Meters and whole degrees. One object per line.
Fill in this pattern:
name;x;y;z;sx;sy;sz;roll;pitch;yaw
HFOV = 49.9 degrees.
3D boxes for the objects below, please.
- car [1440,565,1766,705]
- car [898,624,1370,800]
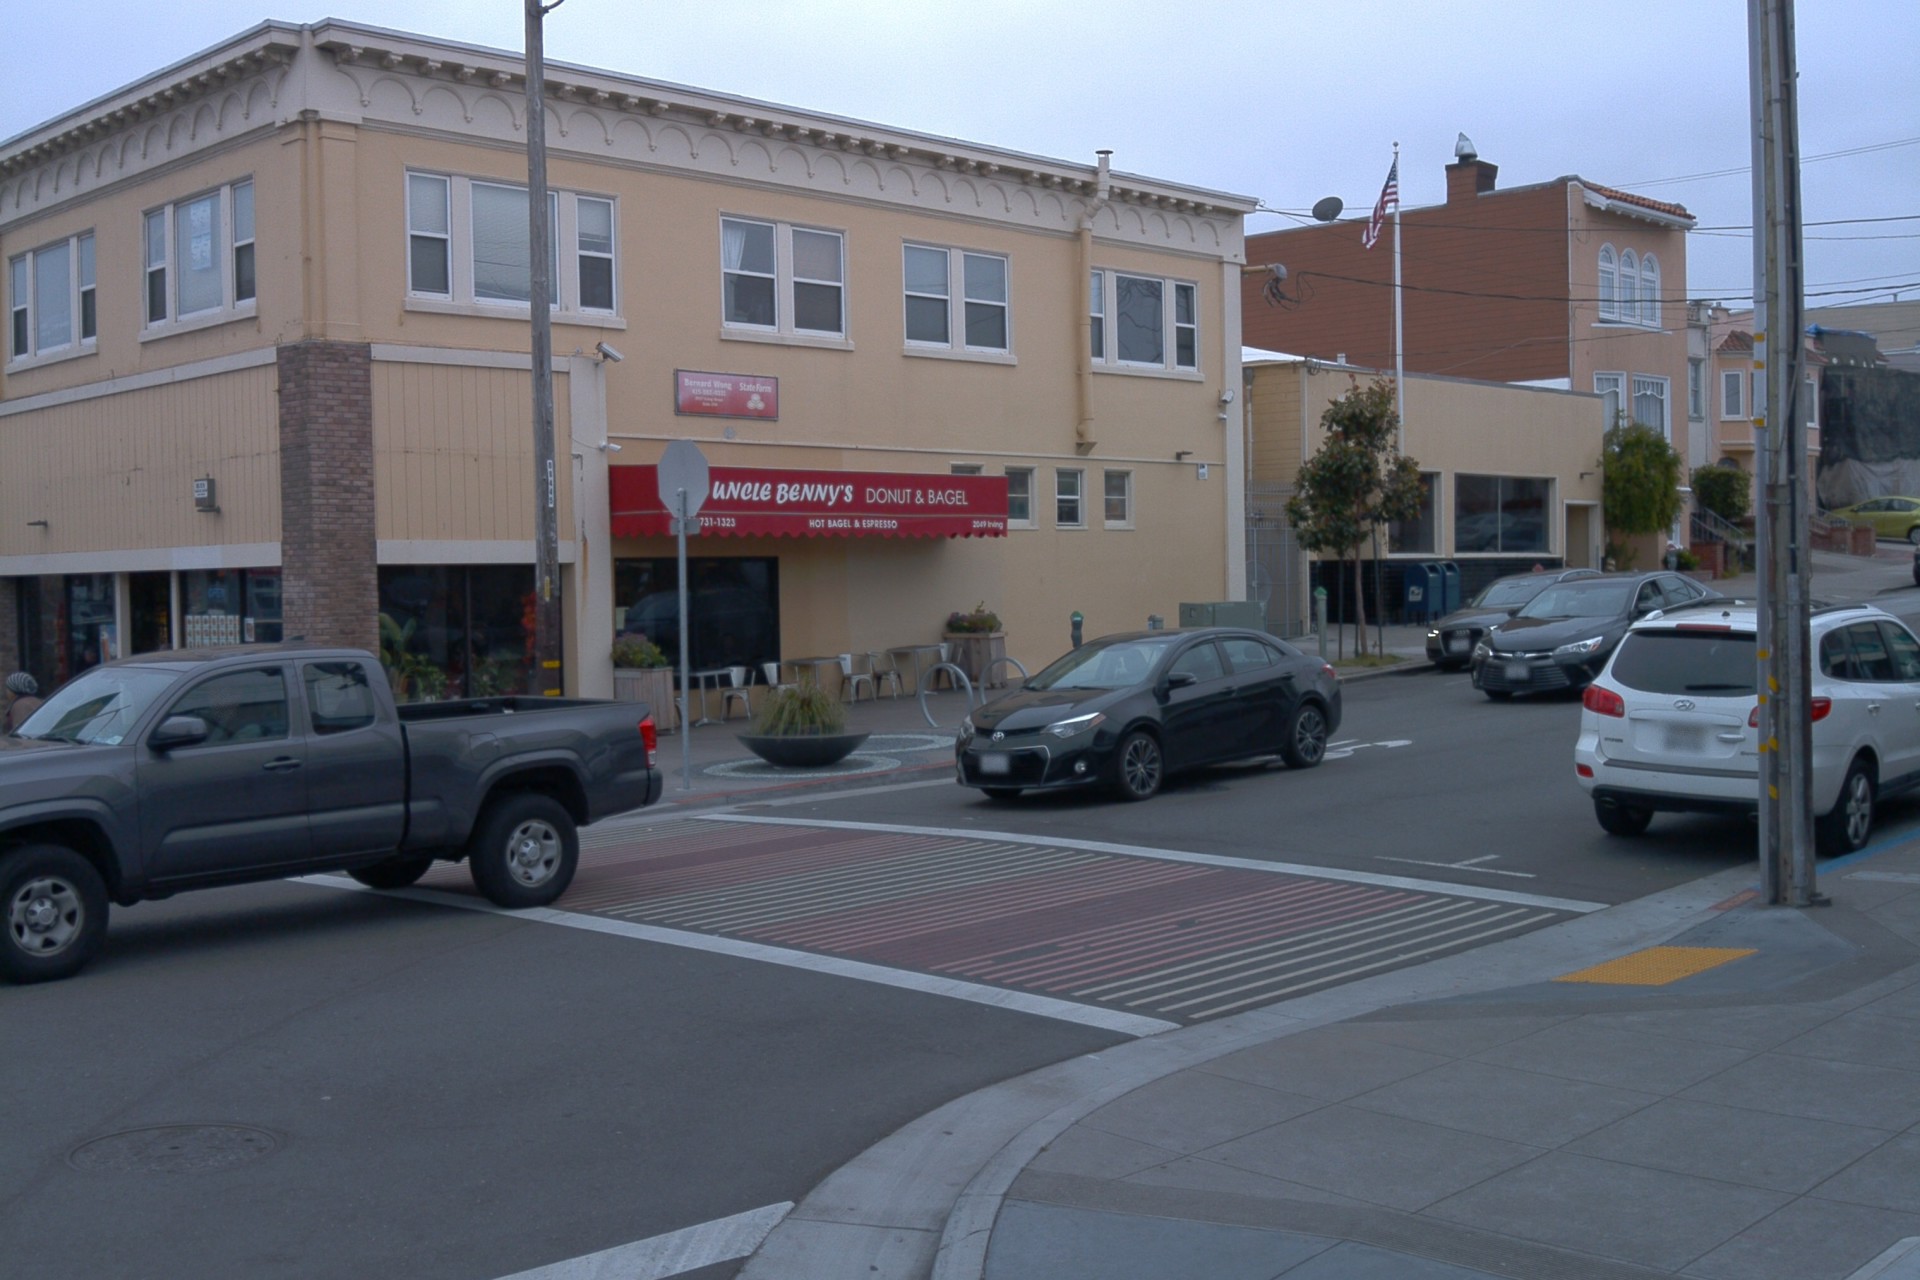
car;8.416;-0.085;26.772;2.082;1.644;4.864;1;1;44
car;1.745;0.574;19.357;2.067;1.440;4.540;0;1;42
